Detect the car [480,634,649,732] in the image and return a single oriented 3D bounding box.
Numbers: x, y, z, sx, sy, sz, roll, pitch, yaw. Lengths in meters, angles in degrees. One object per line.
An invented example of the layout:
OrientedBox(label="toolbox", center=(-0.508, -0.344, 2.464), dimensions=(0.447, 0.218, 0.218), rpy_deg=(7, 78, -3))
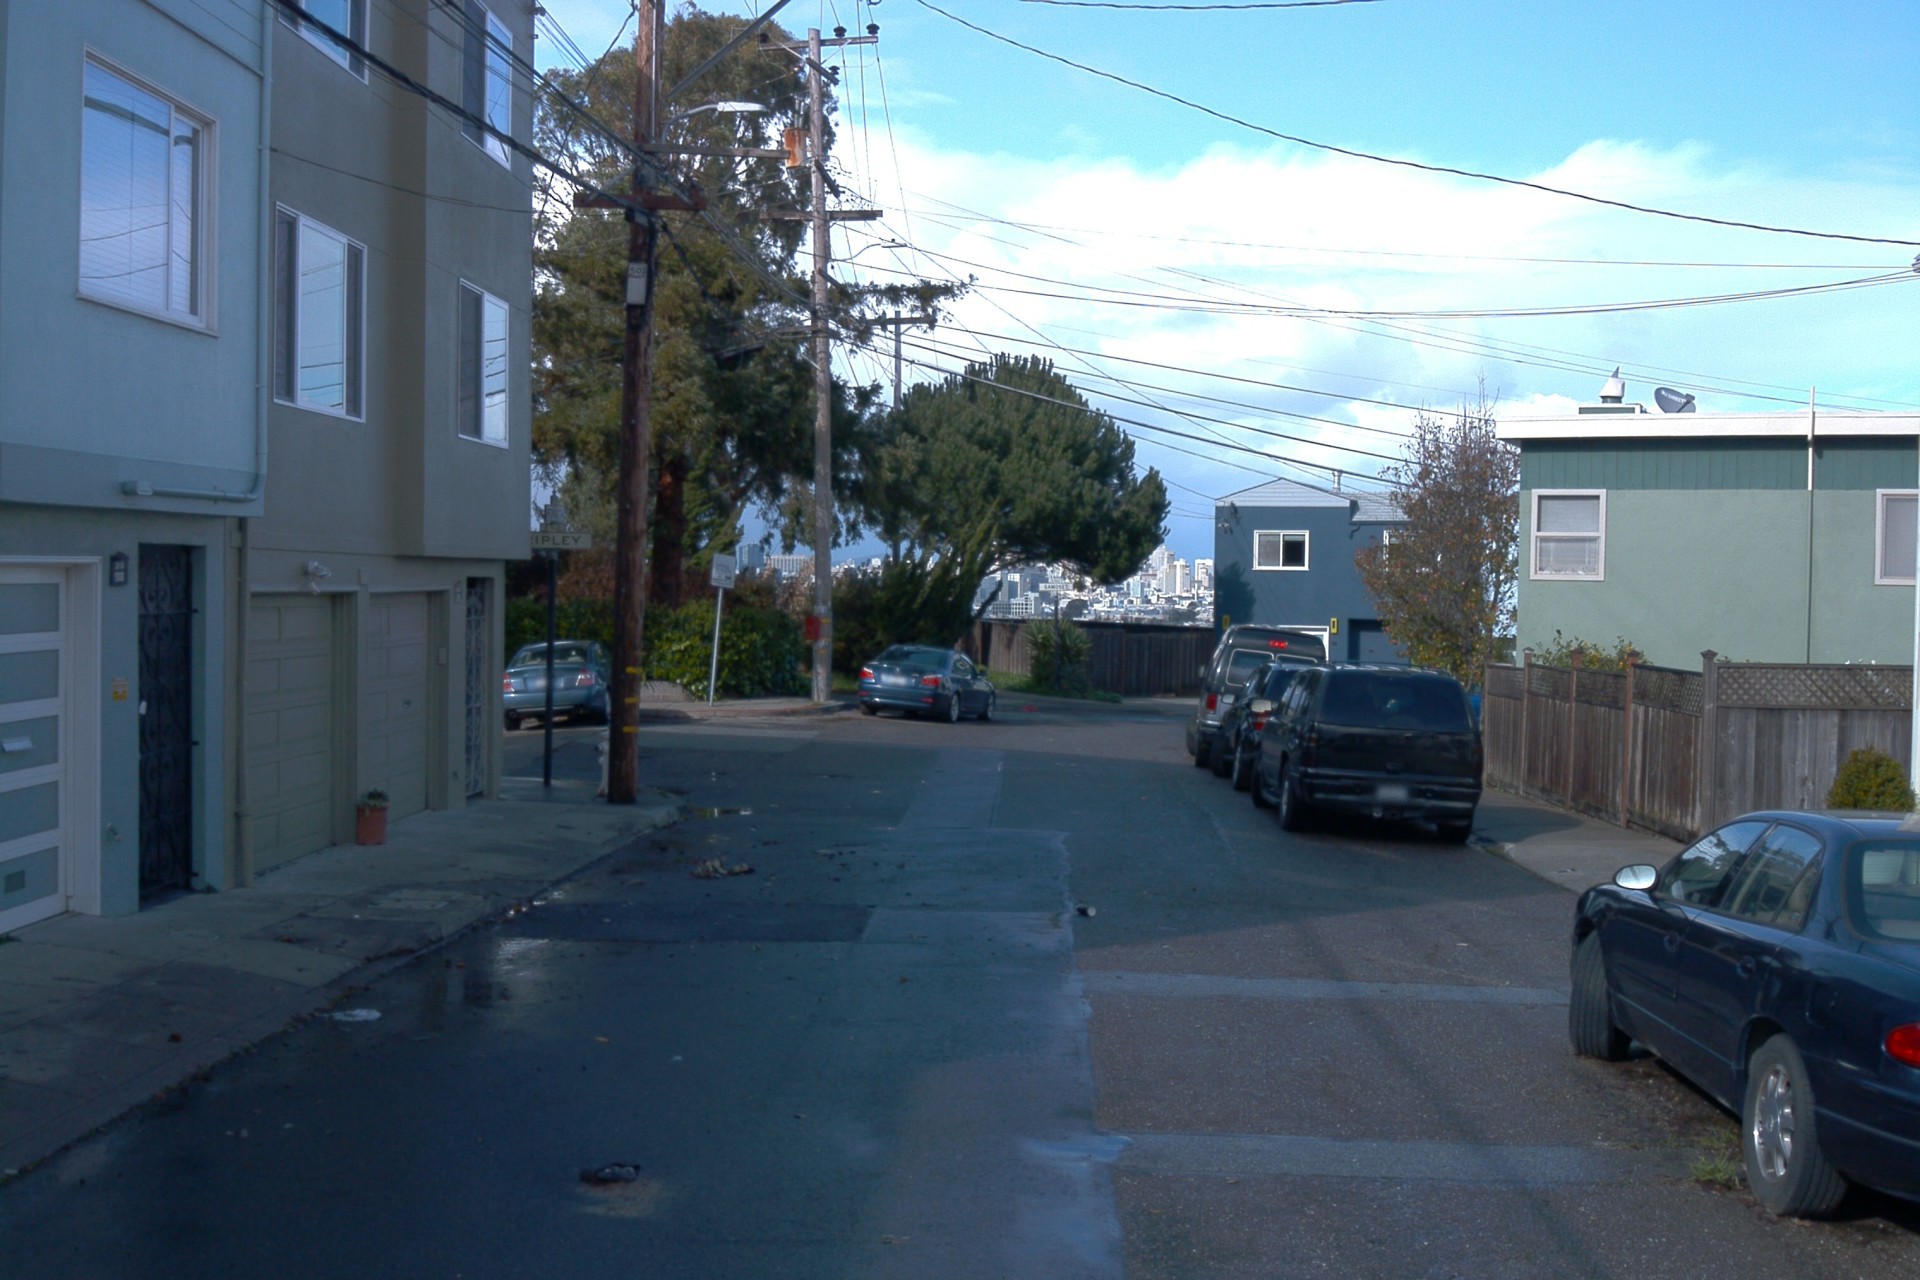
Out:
OrientedBox(label="car", center=(-6.610, 0.672, 34.801), dimensions=(1.906, 1.450, 4.515), rpy_deg=(1, 1, 1))

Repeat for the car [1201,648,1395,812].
OrientedBox(label="car", center=(4.591, 1.158, 28.608), dimensions=(2.071, 1.960, 4.716), rpy_deg=(1, 1, 2))

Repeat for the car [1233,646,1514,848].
OrientedBox(label="car", center=(4.469, 1.074, 23.107), dimensions=(2.281, 1.880, 5.115), rpy_deg=(1, 1, 2))

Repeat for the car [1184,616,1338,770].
OrientedBox(label="car", center=(4.878, 0.774, 34.065), dimensions=(2.287, 2.280, 5.497), rpy_deg=(1, 1, 6))
